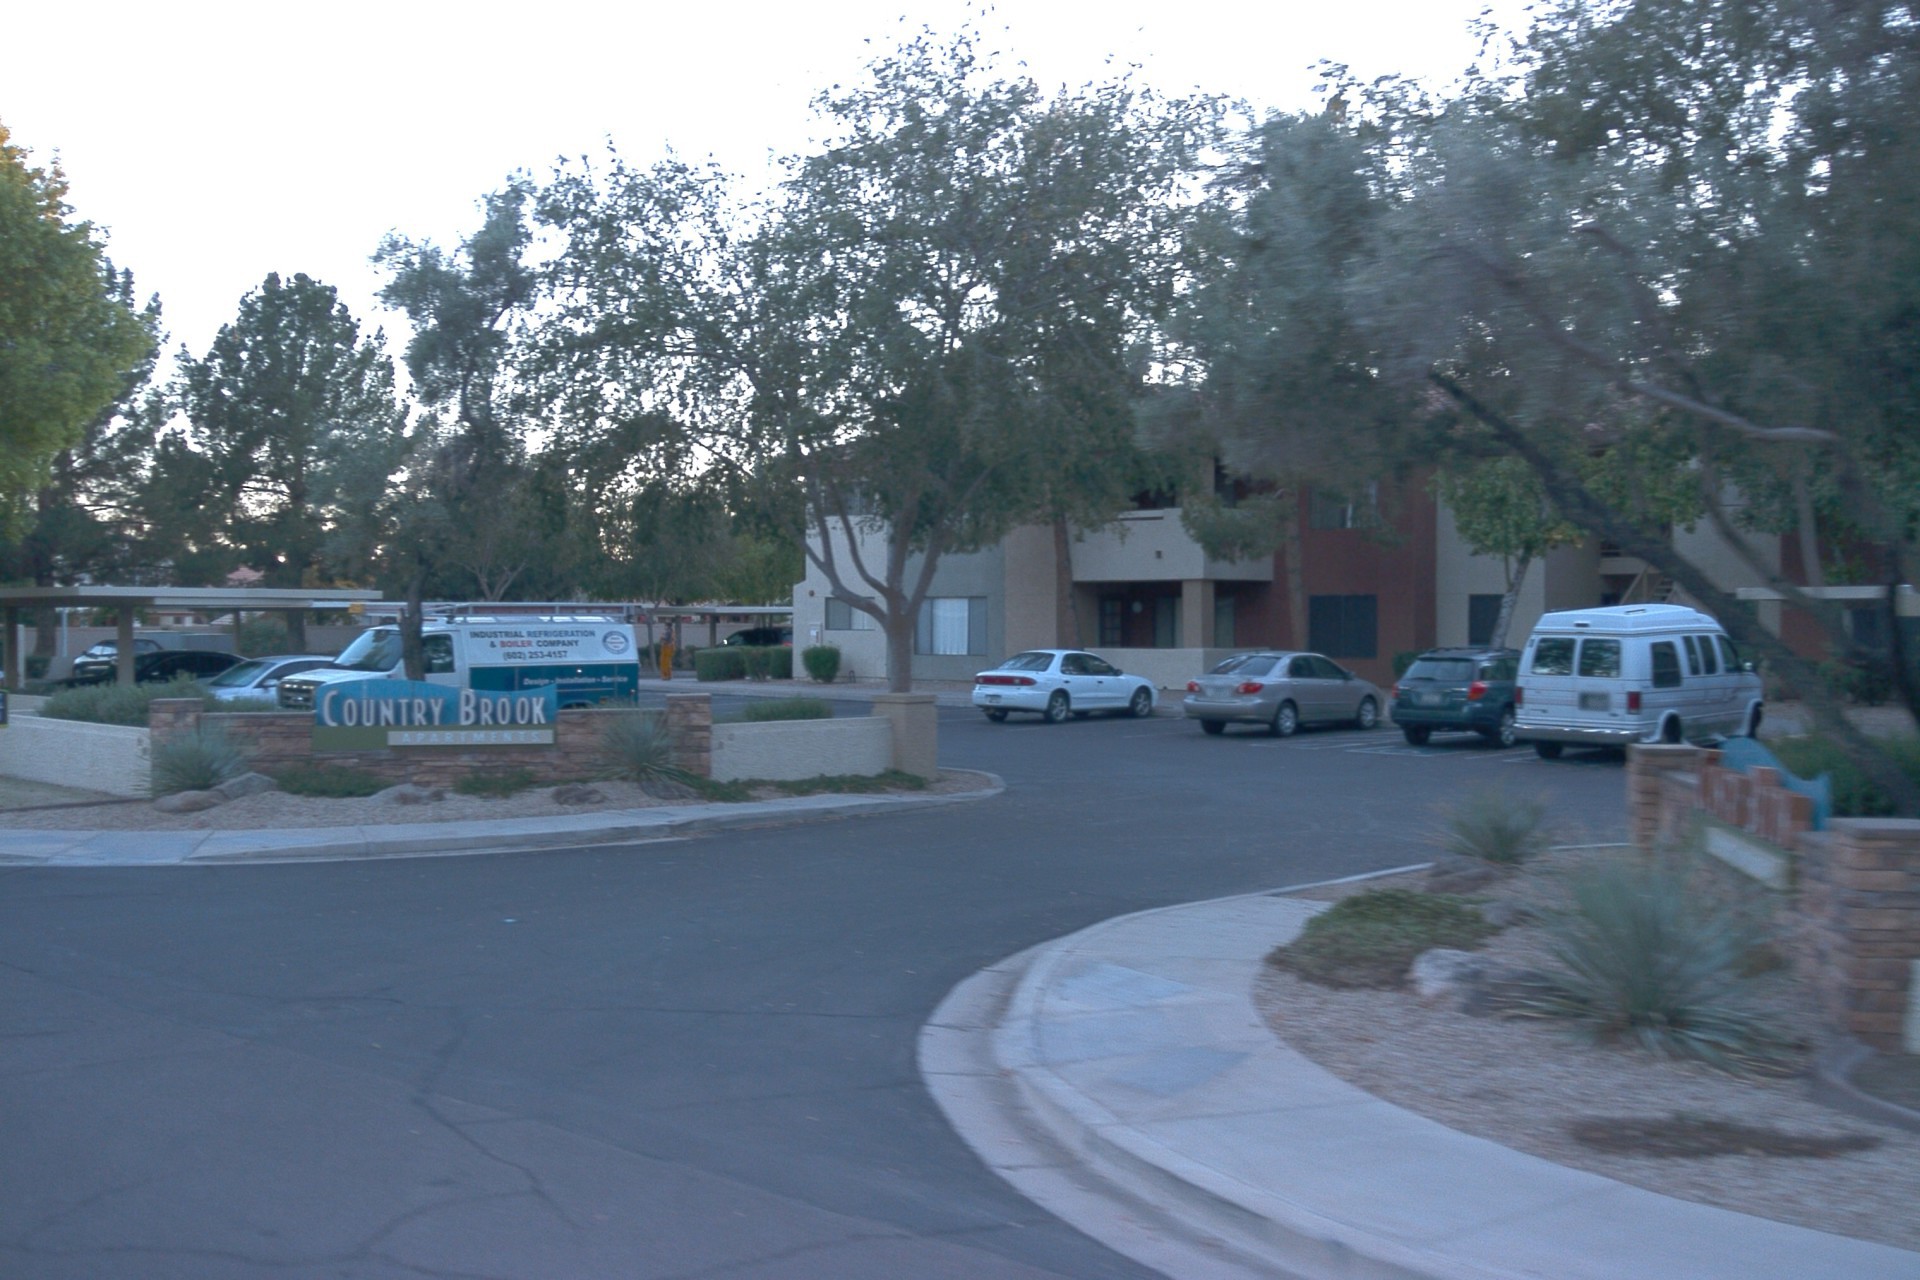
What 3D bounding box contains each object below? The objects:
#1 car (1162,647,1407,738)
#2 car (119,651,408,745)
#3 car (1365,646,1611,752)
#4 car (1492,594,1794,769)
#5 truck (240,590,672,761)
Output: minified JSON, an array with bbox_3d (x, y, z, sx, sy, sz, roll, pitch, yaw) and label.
[{"bbox_3d":[5.856,0.913,36.917,2.036,1.500,4.666,1,0,43],"label":"car"},{"bbox_3d":[-12.061,0.979,35.924,1.971,1.520,4.331,1,0,44],"label":"car"},{"bbox_3d":[8.788,0.937,34.138,2.050,1.620,4.604,1,0,41],"label":"car"},{"bbox_3d":[10.530,0.596,31.572,2.455,2.440,5.379,1,0,41],"label":"car"},{"bbox_3d":[-7.870,0.535,32.822,2.721,2.450,6.153,1,0,43],"label":"truck"}]
